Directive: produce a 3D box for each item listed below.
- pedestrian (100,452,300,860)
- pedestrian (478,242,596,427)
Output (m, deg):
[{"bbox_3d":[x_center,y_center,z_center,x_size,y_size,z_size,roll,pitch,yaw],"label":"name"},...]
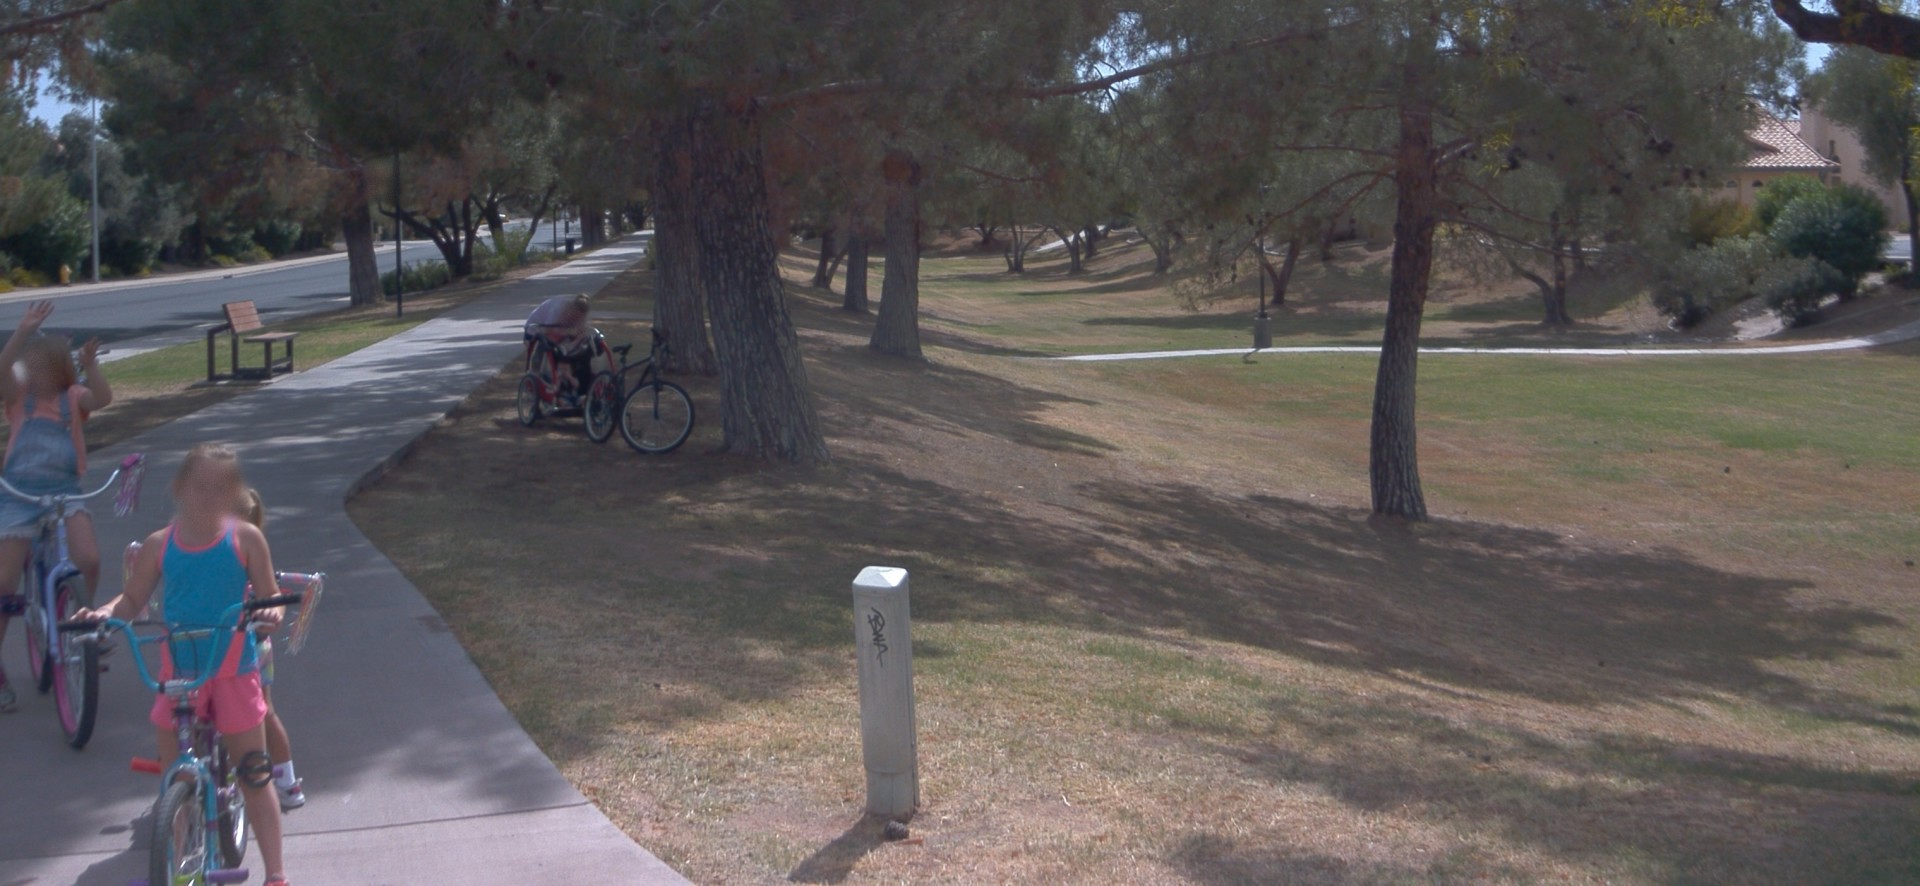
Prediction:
[{"bbox_3d":[-2.416,0.649,6.659,0.518,1.181,0.552,0,0,-12],"label":"pedestrian"},{"bbox_3d":[-4.050,-1.060,19.885,0.834,1.712,0.899,0,1,-32],"label":"pedestrian"}]
